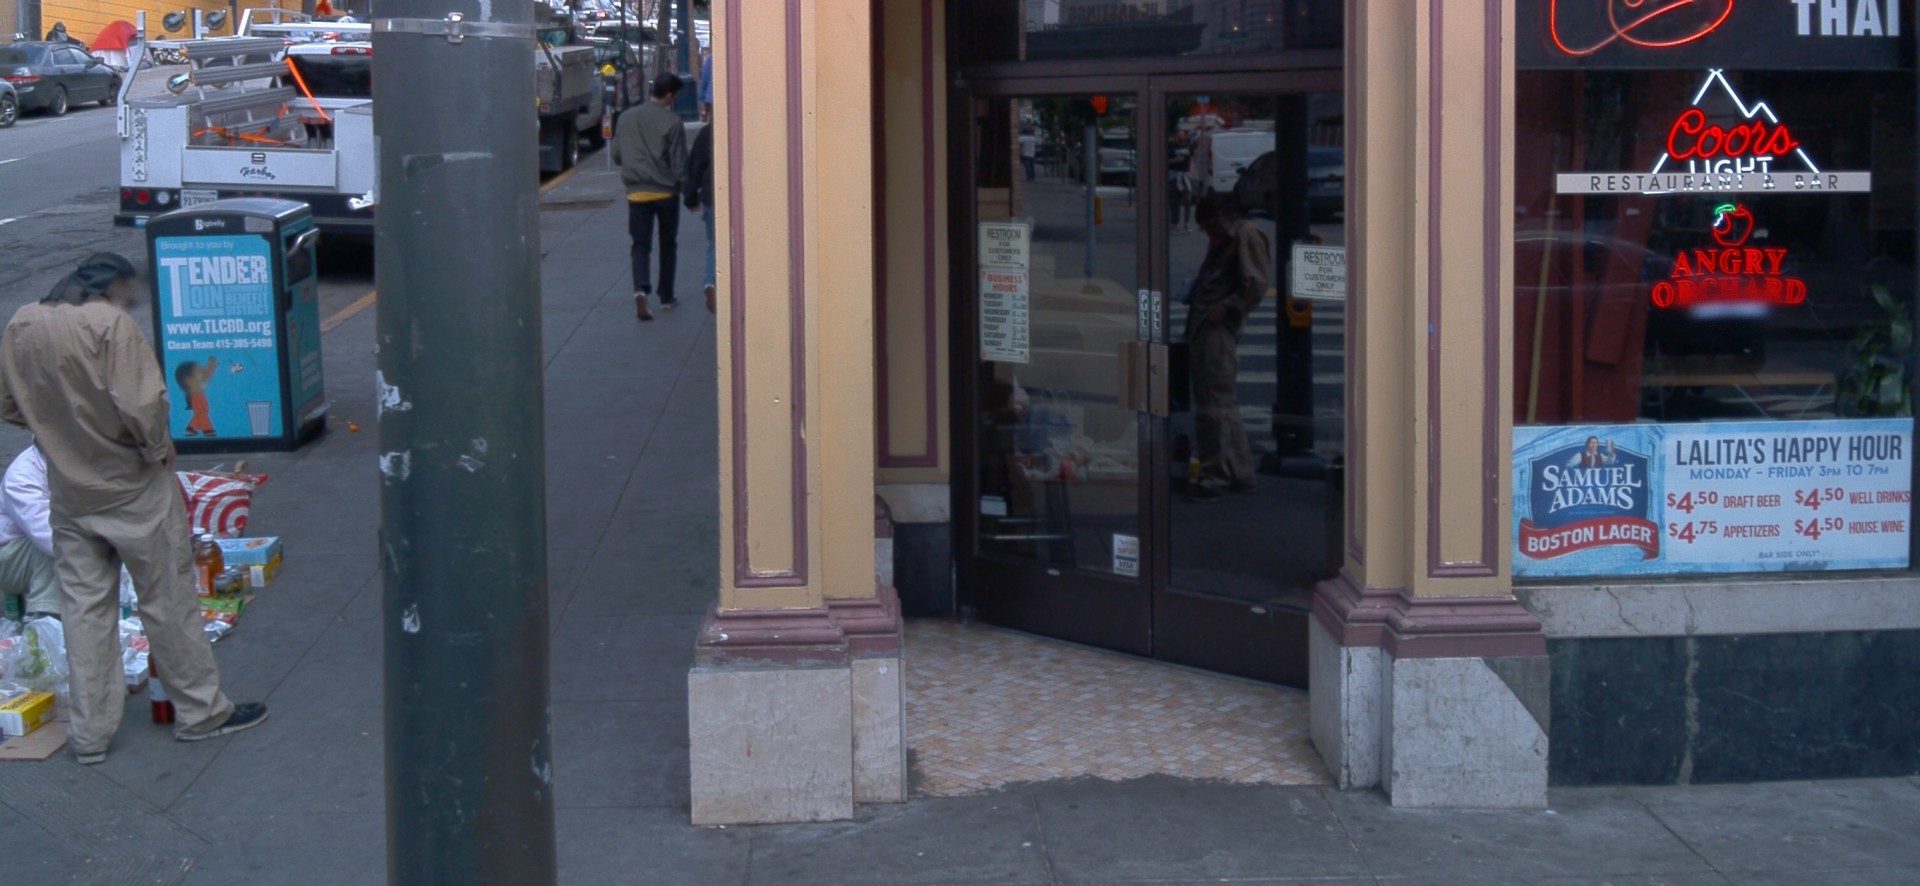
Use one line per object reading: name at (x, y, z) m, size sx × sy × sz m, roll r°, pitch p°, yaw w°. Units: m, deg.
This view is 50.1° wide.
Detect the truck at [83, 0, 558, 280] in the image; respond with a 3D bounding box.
truck at (-5.974, -3.114, 20.544) m, size 2.751 × 2.809 × 7.137 m, roll 0°, pitch 5°, yaw -2°

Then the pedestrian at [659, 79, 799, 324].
pedestrian at (-1.600, -1.685, 14.409) m, size 0.900 × 1.649 × 1.002 m, roll 0°, pitch 2°, yaw -2°

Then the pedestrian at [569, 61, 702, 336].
pedestrian at (-2.271, -1.715, 14.484) m, size 0.795 × 1.869 × 0.986 m, roll 0°, pitch 1°, yaw -1°

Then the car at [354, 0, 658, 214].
car at (-5.987, -4.707, 28.340) m, size 2.795 × 3.009 × 7.413 m, roll 0°, pitch 5°, yaw -2°
